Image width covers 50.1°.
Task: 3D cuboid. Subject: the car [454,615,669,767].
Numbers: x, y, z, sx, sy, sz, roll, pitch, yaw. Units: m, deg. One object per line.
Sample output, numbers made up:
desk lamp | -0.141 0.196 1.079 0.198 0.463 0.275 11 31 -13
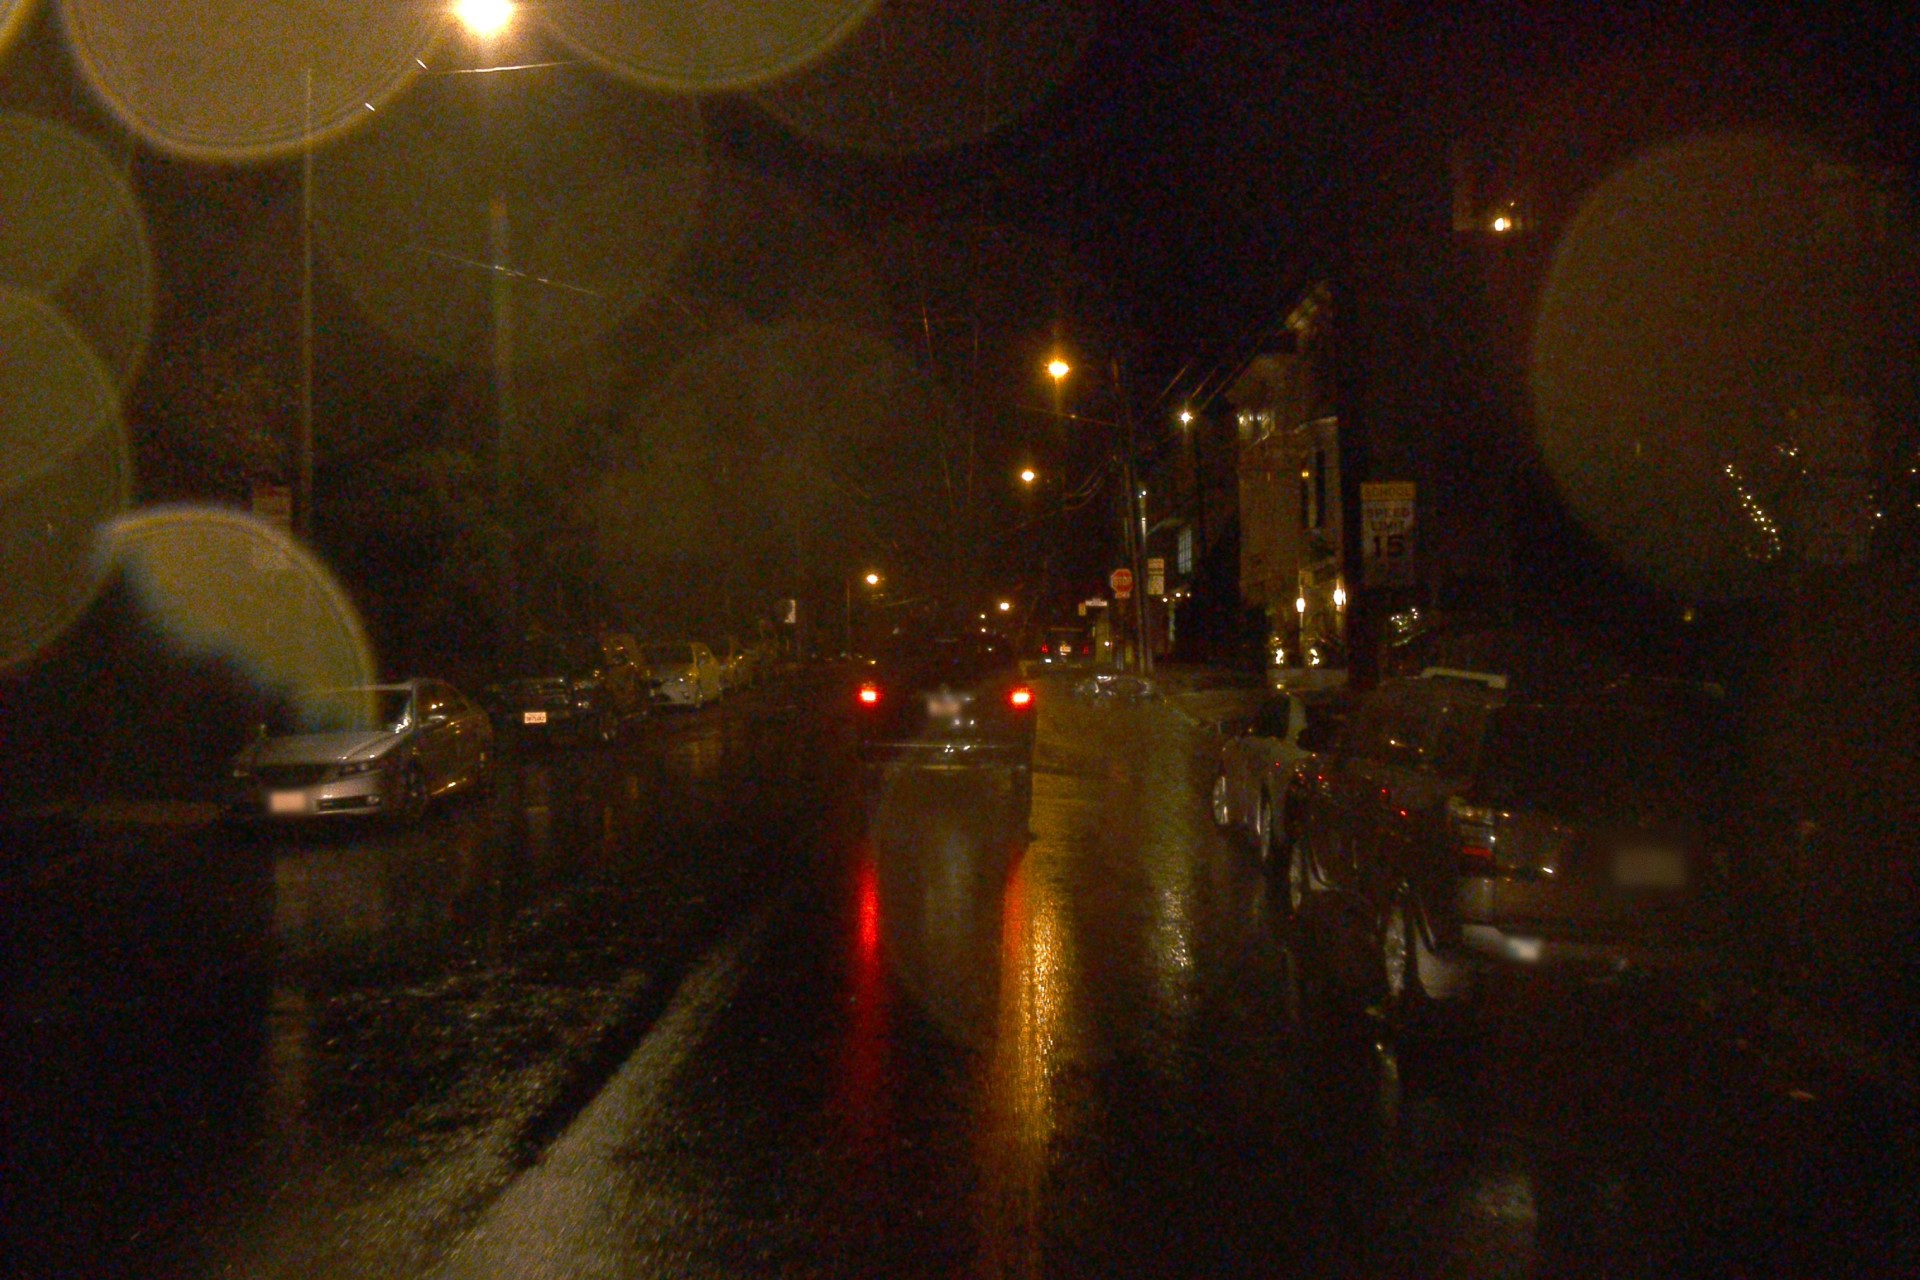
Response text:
car | -6.200 0.710 32.732 2.271 2.140 5.660 1 1 0

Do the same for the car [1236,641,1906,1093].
car | 3.108 1.033 11.835 2.202 1.930 5.045 1 1 -1

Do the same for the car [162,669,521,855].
car | -6.261 1.165 21.504 2.212 1.530 4.856 1 1 1

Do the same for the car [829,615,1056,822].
car | -0.118 0.762 23.255 2.267 2.040 4.792 1 1 1

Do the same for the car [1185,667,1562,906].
car | 3.342 1.120 17.785 2.241 1.590 5.010 1 1 0
